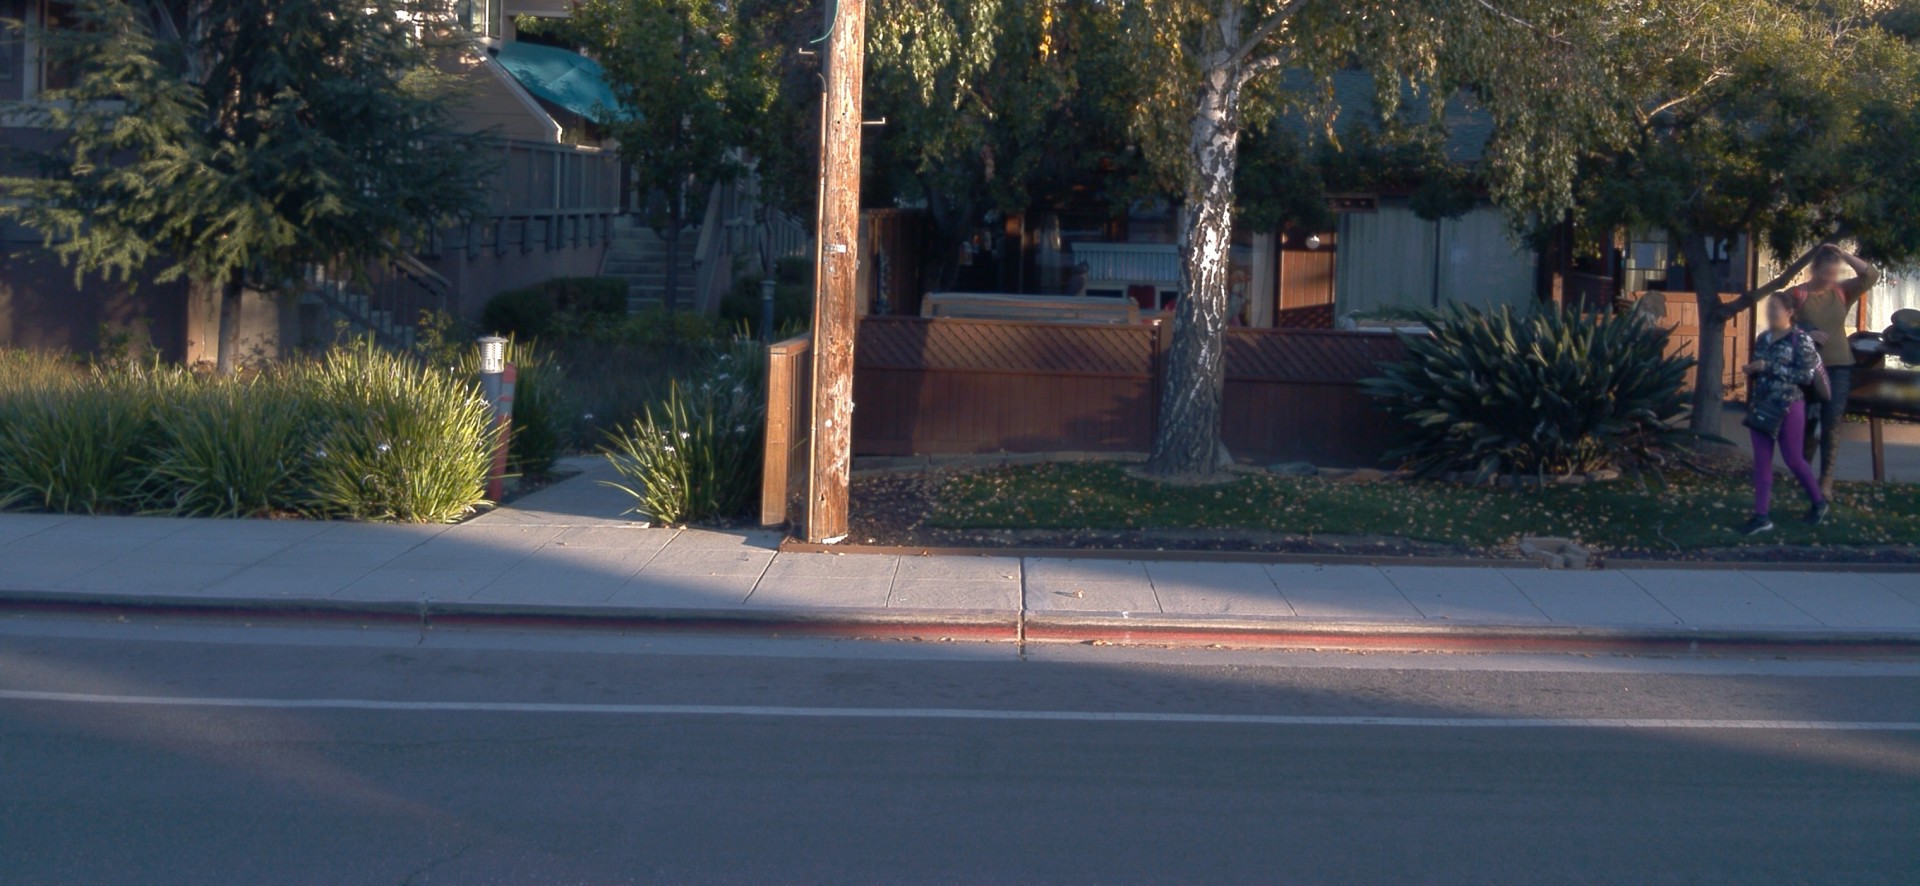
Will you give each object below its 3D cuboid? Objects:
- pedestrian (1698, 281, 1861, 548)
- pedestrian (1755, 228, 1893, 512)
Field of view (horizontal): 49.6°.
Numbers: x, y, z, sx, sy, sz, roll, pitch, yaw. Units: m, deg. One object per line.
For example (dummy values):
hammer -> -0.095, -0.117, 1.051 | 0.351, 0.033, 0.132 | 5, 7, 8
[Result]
pedestrian -> 5.435, -0.219, 13.784 | 0.719, 1.687, 0.683 | 0, 2, -29
pedestrian -> 6.012, -0.543, 14.481 | 0.794, 1.896, 0.796 | 1, 2, 18
